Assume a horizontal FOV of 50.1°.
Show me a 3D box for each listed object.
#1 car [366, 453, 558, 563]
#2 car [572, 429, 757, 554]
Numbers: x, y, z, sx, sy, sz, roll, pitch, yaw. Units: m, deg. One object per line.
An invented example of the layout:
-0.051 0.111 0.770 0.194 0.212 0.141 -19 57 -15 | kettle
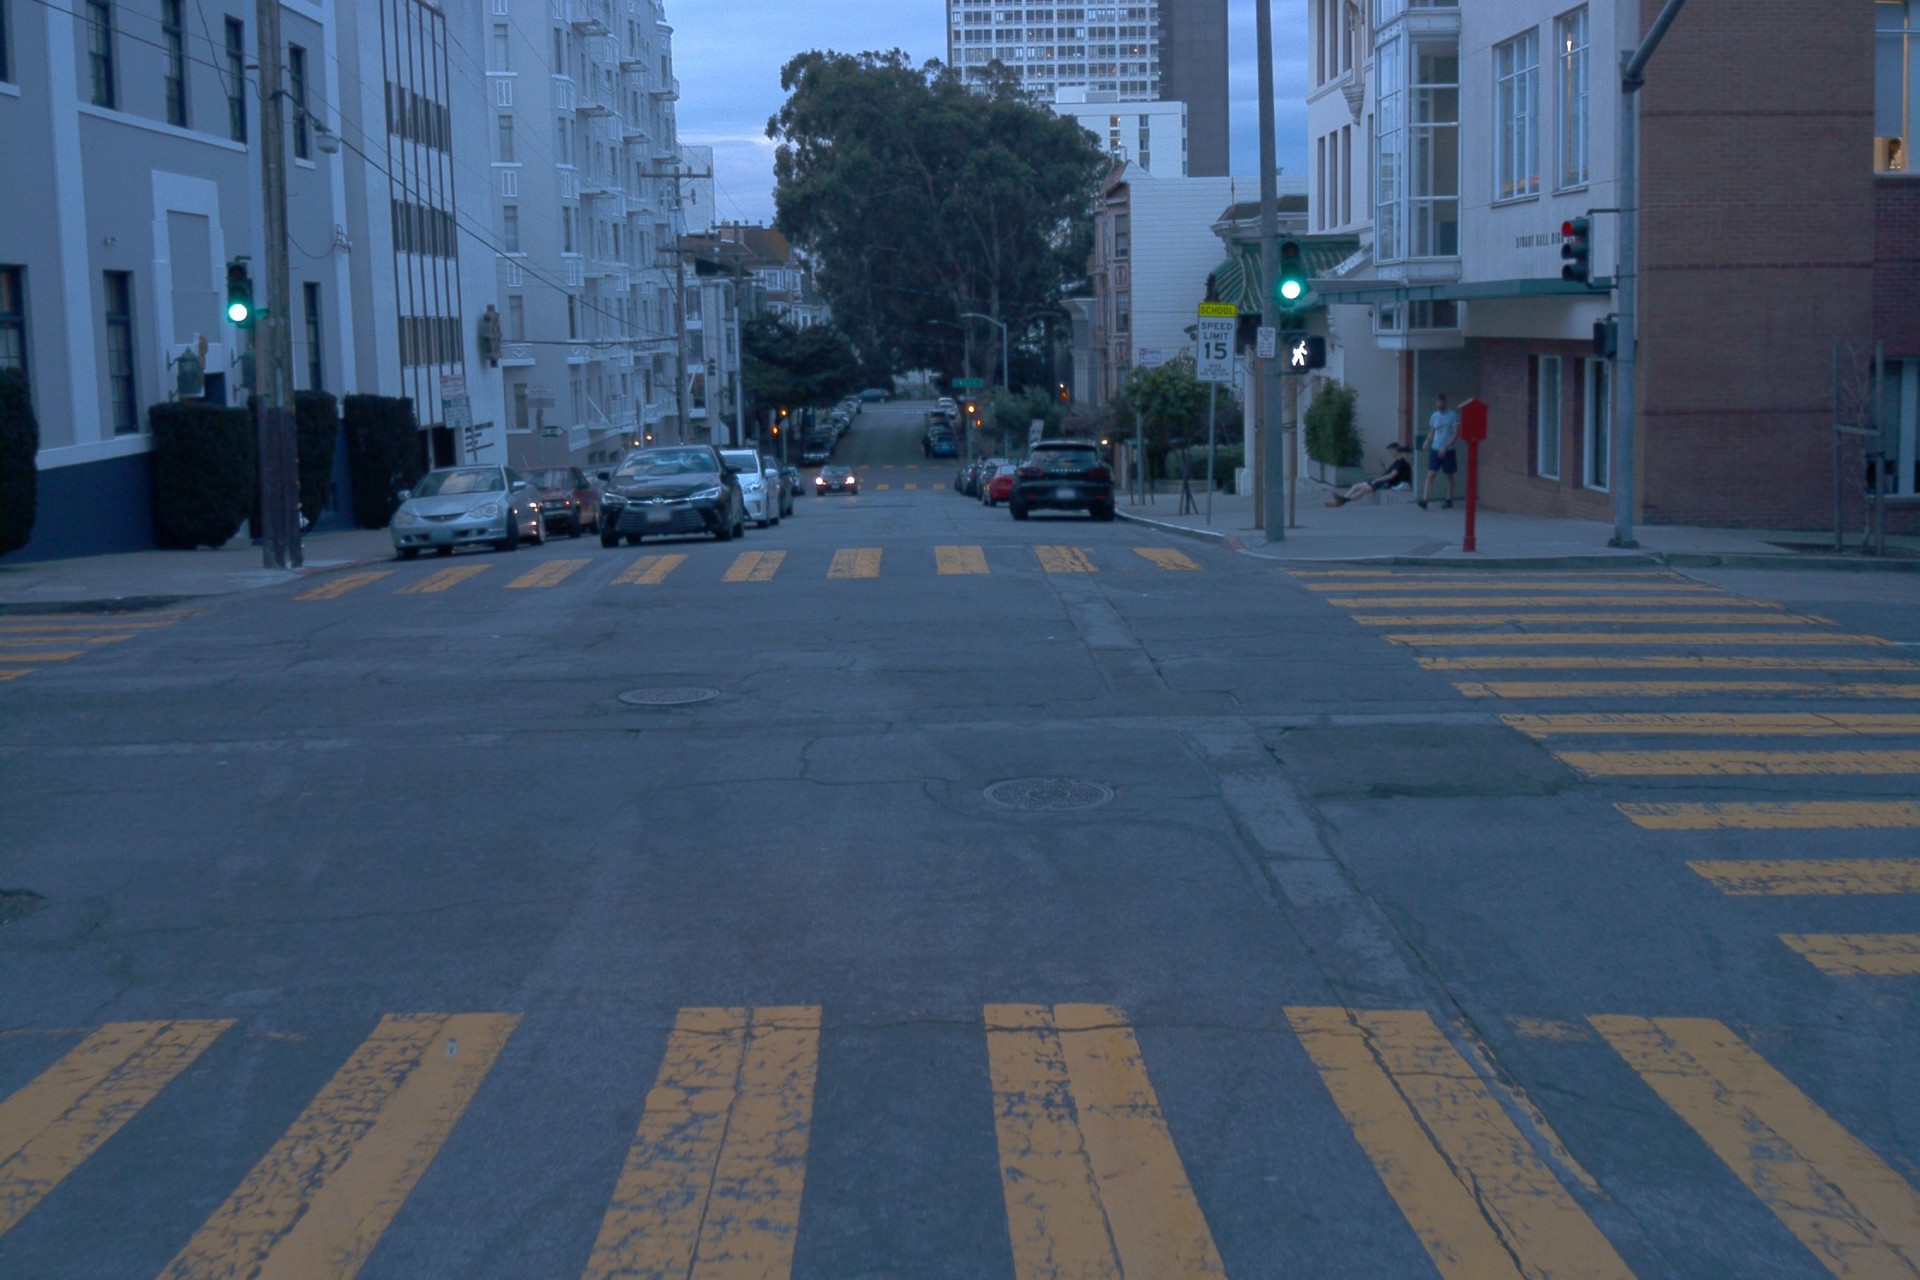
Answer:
-7.599 -1.985 31.799 1.992 1.450 4.399 1 1 -2 | car
-4.199 -2.095 29.999 2.144 1.530 4.749 1 1 -2 | car
